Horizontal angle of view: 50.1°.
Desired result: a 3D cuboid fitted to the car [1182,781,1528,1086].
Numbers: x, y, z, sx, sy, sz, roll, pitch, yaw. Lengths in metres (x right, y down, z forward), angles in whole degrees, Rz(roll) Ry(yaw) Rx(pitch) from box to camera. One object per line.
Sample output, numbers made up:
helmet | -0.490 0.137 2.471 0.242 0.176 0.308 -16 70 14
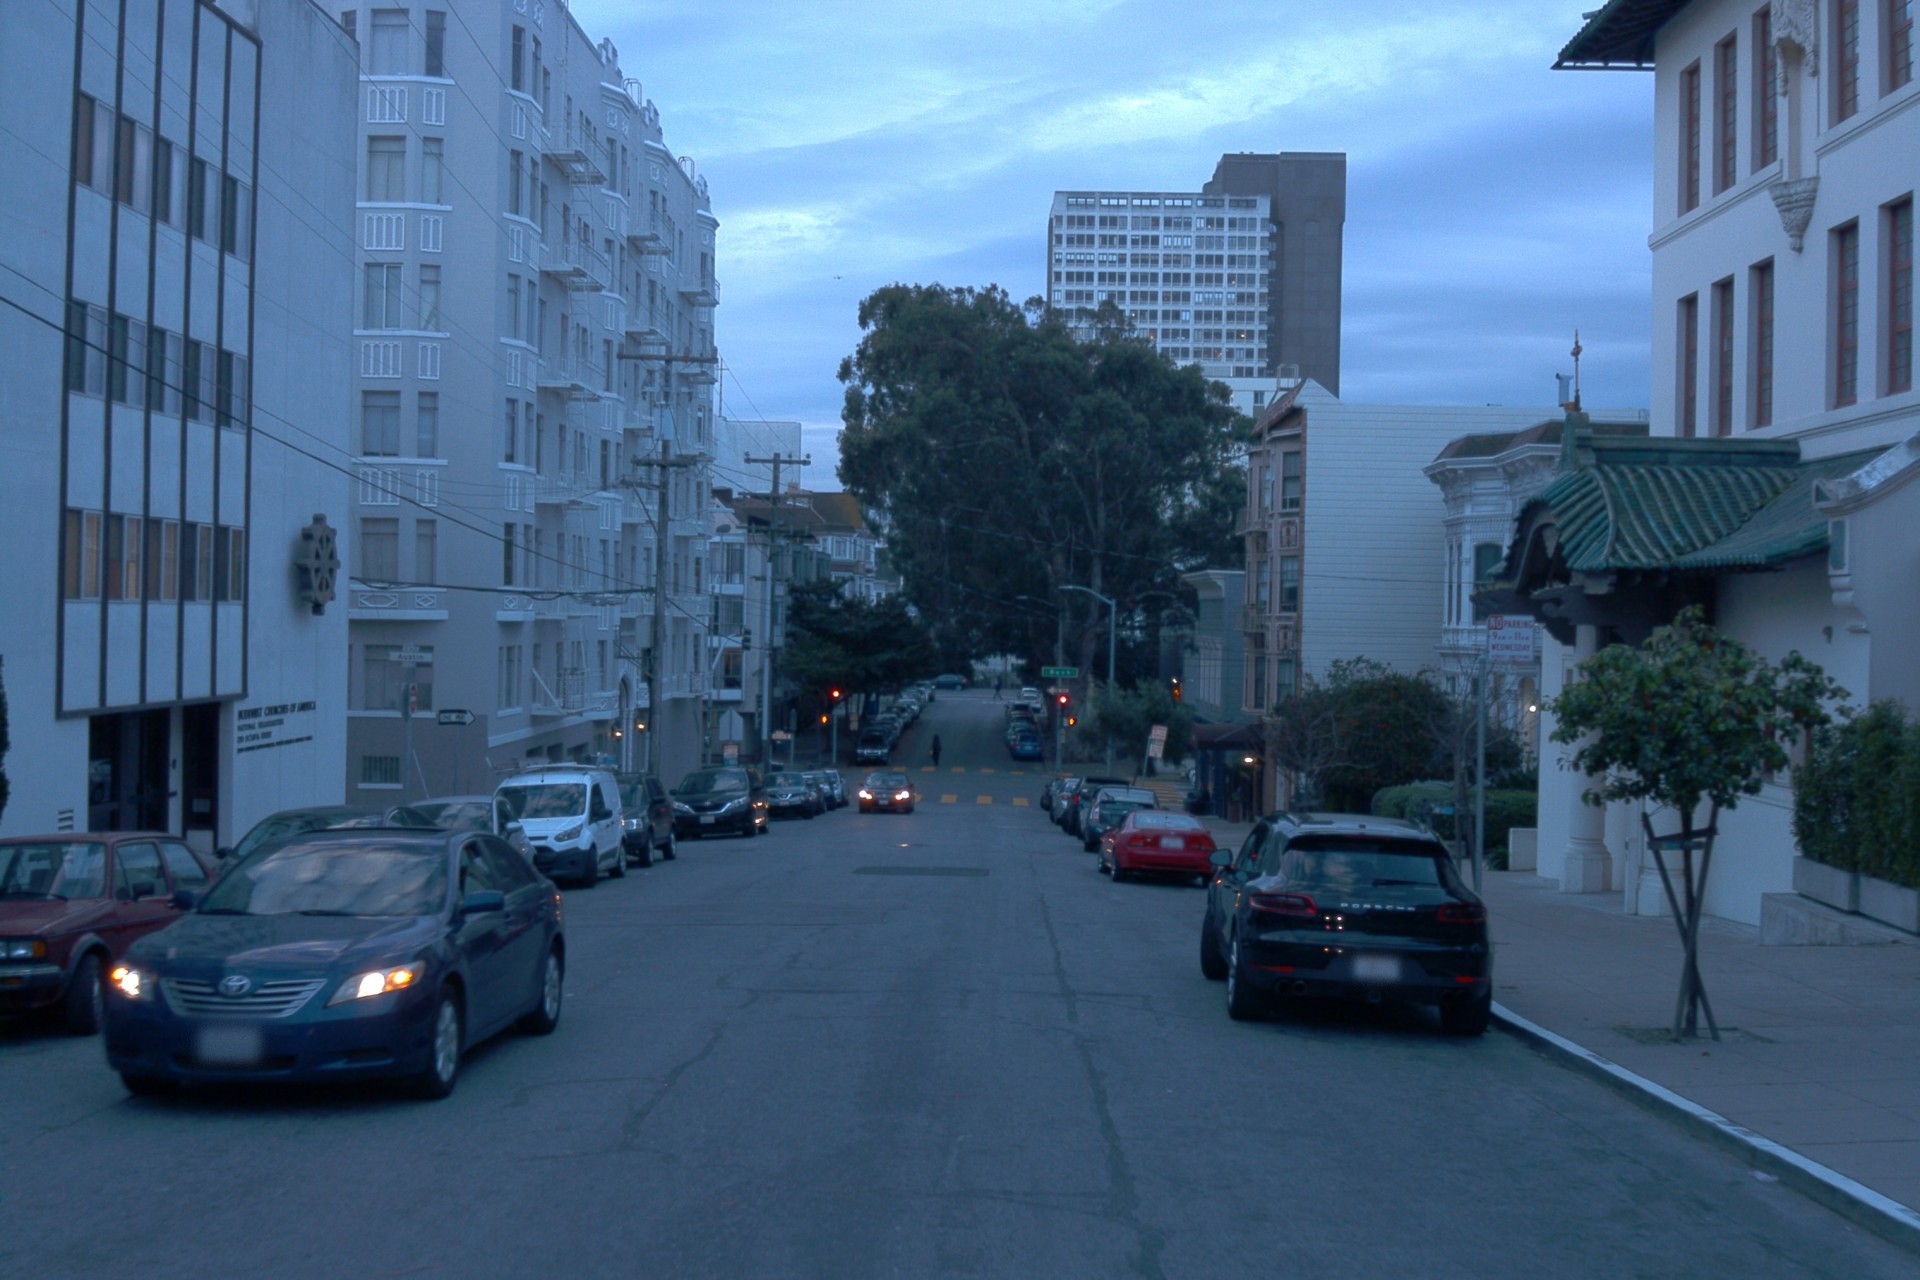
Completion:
car | 3.108 2.283 17.236 2.189 1.760 4.713 1 1 3

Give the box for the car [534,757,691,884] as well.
car | -6.315 3.257 37.918 2.094 1.830 4.515 1 1 0

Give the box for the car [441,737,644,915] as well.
car | -6.371 2.793 31.898 2.165 2.250 4.373 1 1 1

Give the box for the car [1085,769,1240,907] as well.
car | 3.465 3.397 36.078 2.118 1.890 4.539 1 1 -1

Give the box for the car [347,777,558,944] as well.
car | -6.441 2.772 26.472 1.878 1.680 3.537 1 1 -1

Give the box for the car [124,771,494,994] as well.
car | -6.508 2.376 21.239 2.216 1.610 4.826 1 1 1
